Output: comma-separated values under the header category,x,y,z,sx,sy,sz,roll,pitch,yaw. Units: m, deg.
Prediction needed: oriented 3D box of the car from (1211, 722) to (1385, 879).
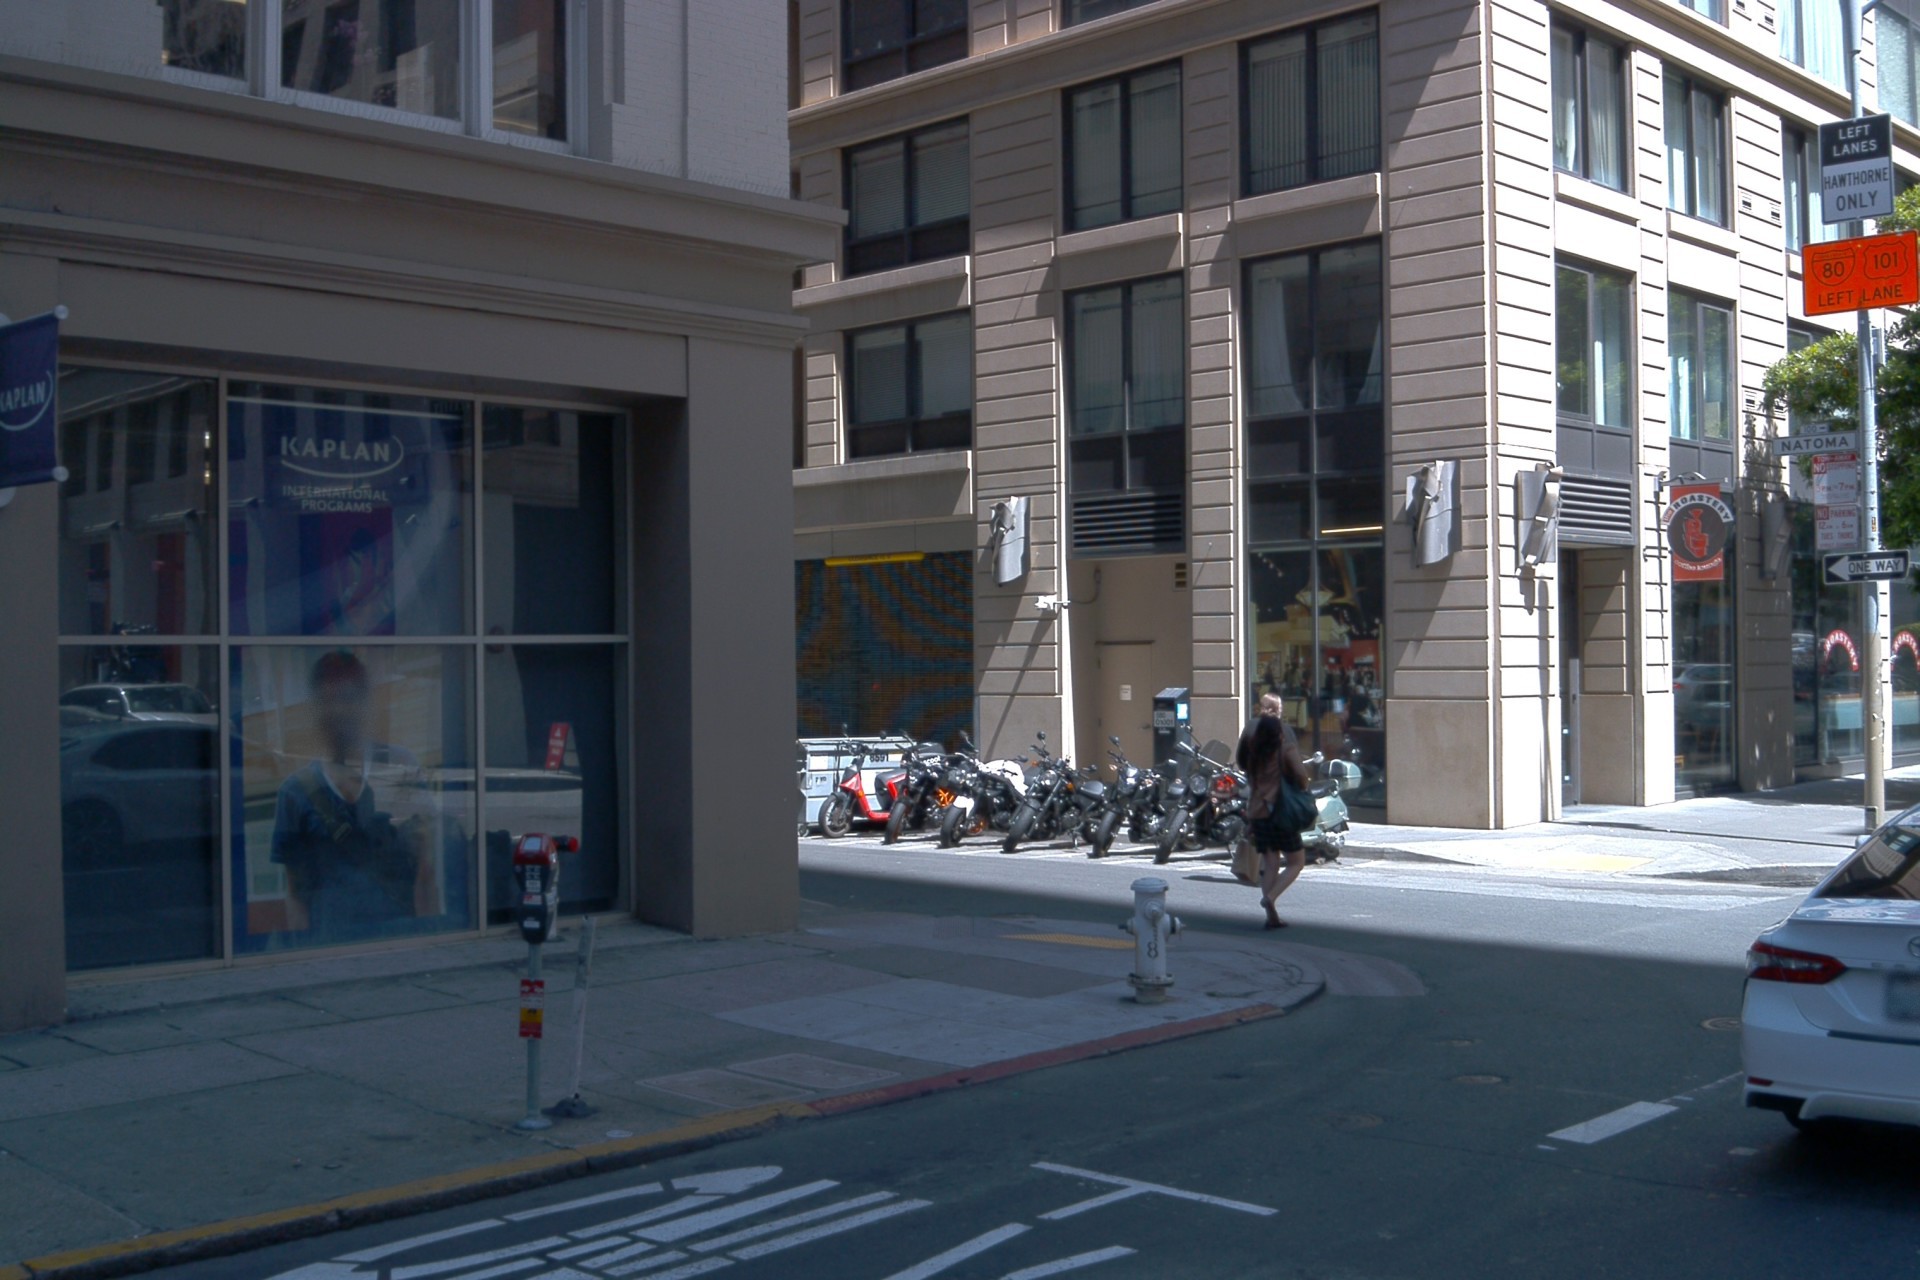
category,x,y,z,sx,sy,sz,roll,pitch,yaw
car,3.501,1.617,21.262,0.805,1.440,1.980,1,1,43

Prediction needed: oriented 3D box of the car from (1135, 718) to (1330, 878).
category,x,y,z,sx,sy,sz,roll,pitch,yaw
car,2.905,1.624,21.809,0.816,1.483,2.375,1,1,43

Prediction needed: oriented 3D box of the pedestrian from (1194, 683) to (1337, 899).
category,x,y,z,sx,sy,sz,roll,pitch,yaw
pedestrian,2.822,1.356,19.027,0.890,1.866,1.147,0,1,35

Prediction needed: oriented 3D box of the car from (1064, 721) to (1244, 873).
category,x,y,z,sx,sy,sz,roll,pitch,yaw
car,2.138,1.670,22.497,0.821,1.465,2.127,1,1,43

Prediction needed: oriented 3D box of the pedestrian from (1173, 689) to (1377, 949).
category,x,y,z,sx,sy,sz,roll,pitch,yaw
pedestrian,2.456,1.343,16.084,1.225,1.866,1.044,-1,1,-44

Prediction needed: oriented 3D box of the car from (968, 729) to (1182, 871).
category,x,y,z,sx,sy,sz,roll,pitch,yaw
car,1.333,1.767,23.361,1.065,1.365,2.502,1,1,43
